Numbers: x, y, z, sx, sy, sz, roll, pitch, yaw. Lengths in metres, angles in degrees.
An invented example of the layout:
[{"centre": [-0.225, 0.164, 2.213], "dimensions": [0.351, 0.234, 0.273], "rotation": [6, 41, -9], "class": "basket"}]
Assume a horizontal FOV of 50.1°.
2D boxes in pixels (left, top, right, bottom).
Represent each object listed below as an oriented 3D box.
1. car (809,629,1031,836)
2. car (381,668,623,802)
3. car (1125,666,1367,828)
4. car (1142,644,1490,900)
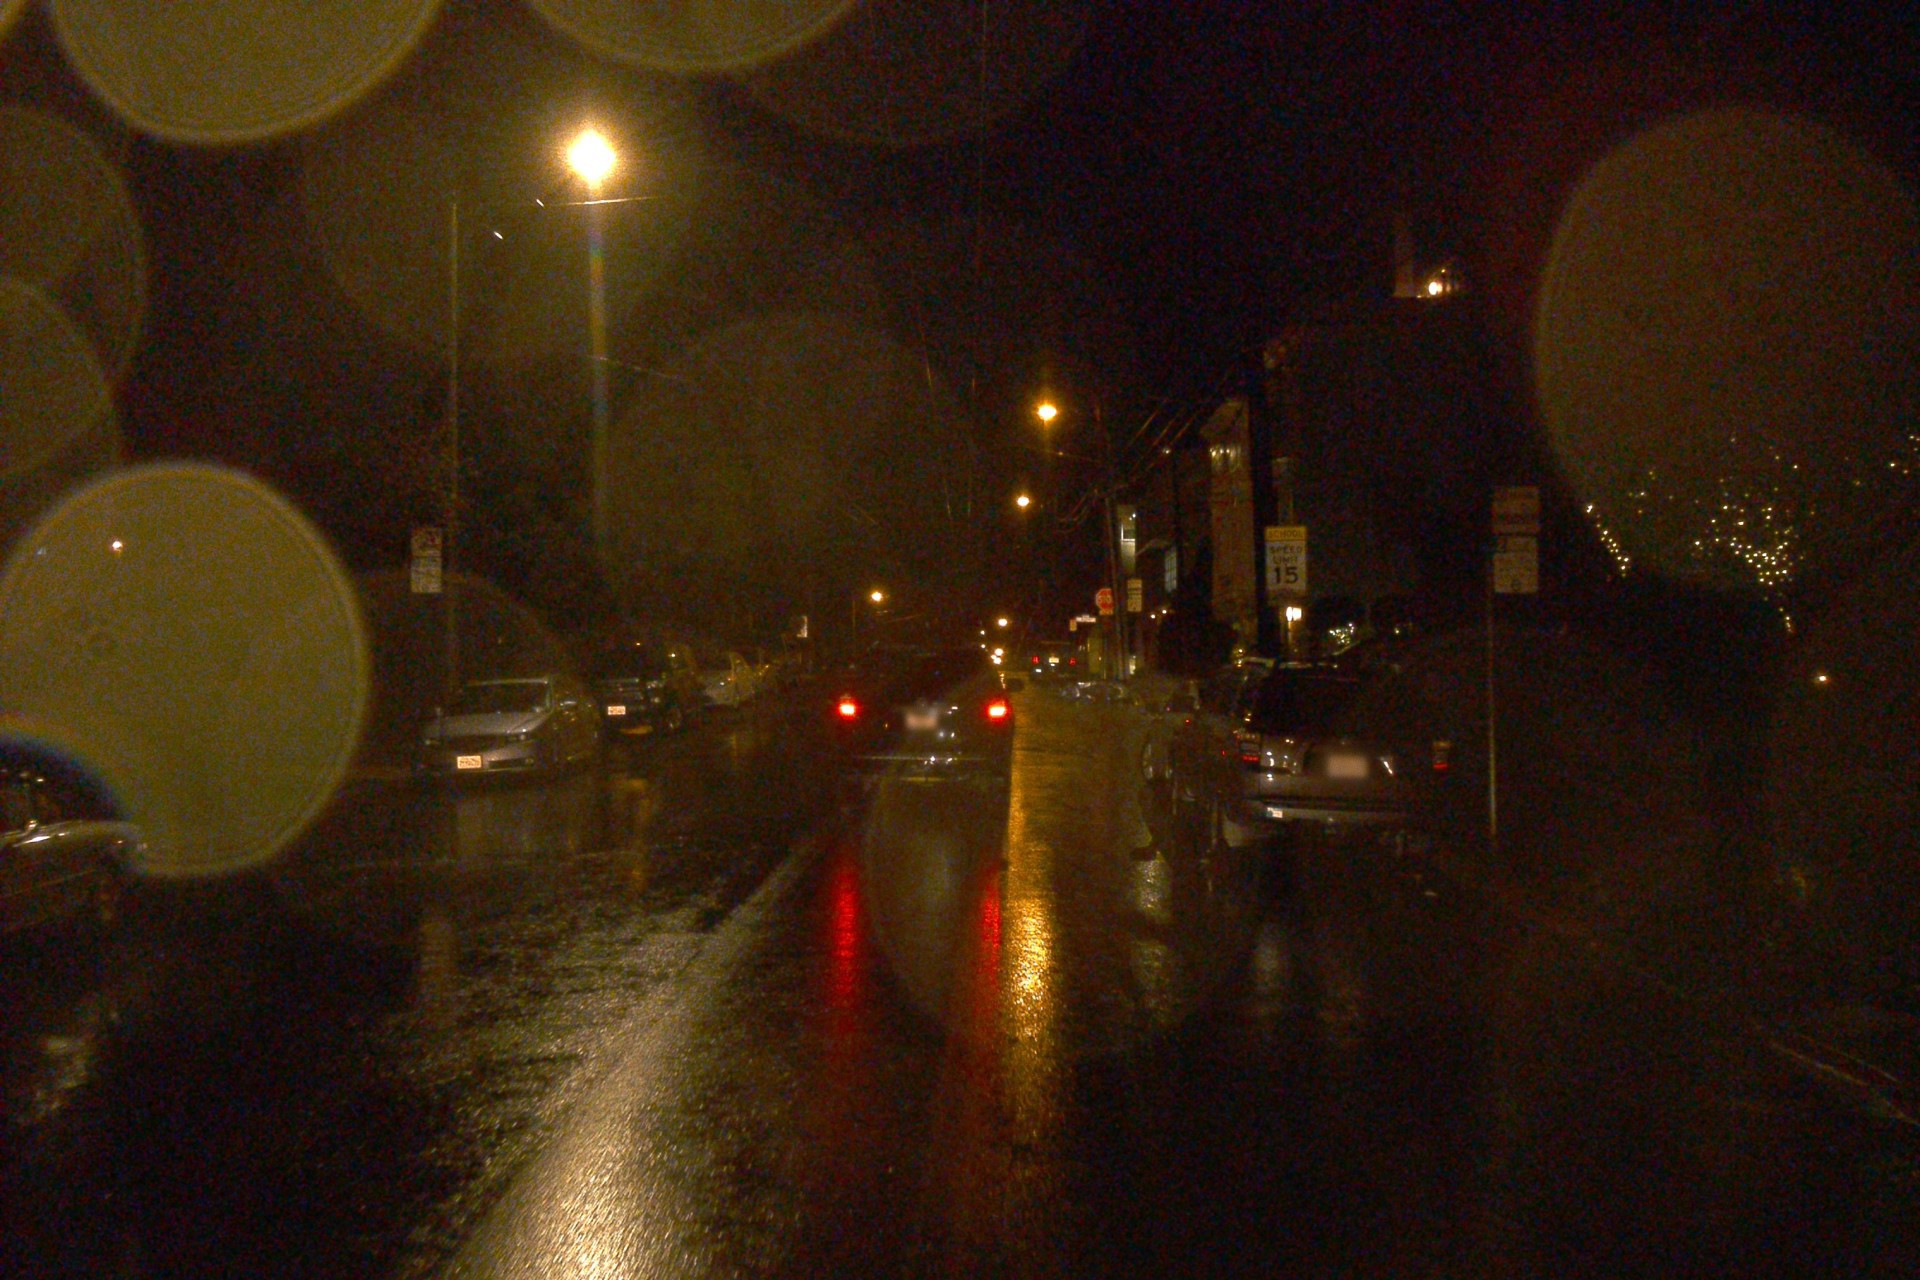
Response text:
[{"centre": [-0.339, 0.938, 23.613], "dimensions": [2.267, 2.040, 4.792], "rotation": [1, 1, 2], "class": "car"}, {"centre": [-6.271, 1.250, 28.772], "dimensions": [2.212, 1.530, 4.856], "rotation": [1, 1, 1], "class": "car"}, {"centre": [3.334, 1.208, 25.051], "dimensions": [2.241, 1.590, 5.010], "rotation": [1, 1, 0], "class": "car"}, {"centre": [3.097, 1.074, 19.119], "dimensions": [2.202, 1.930, 5.045], "rotation": [1, 1, -1], "class": "car"}]
